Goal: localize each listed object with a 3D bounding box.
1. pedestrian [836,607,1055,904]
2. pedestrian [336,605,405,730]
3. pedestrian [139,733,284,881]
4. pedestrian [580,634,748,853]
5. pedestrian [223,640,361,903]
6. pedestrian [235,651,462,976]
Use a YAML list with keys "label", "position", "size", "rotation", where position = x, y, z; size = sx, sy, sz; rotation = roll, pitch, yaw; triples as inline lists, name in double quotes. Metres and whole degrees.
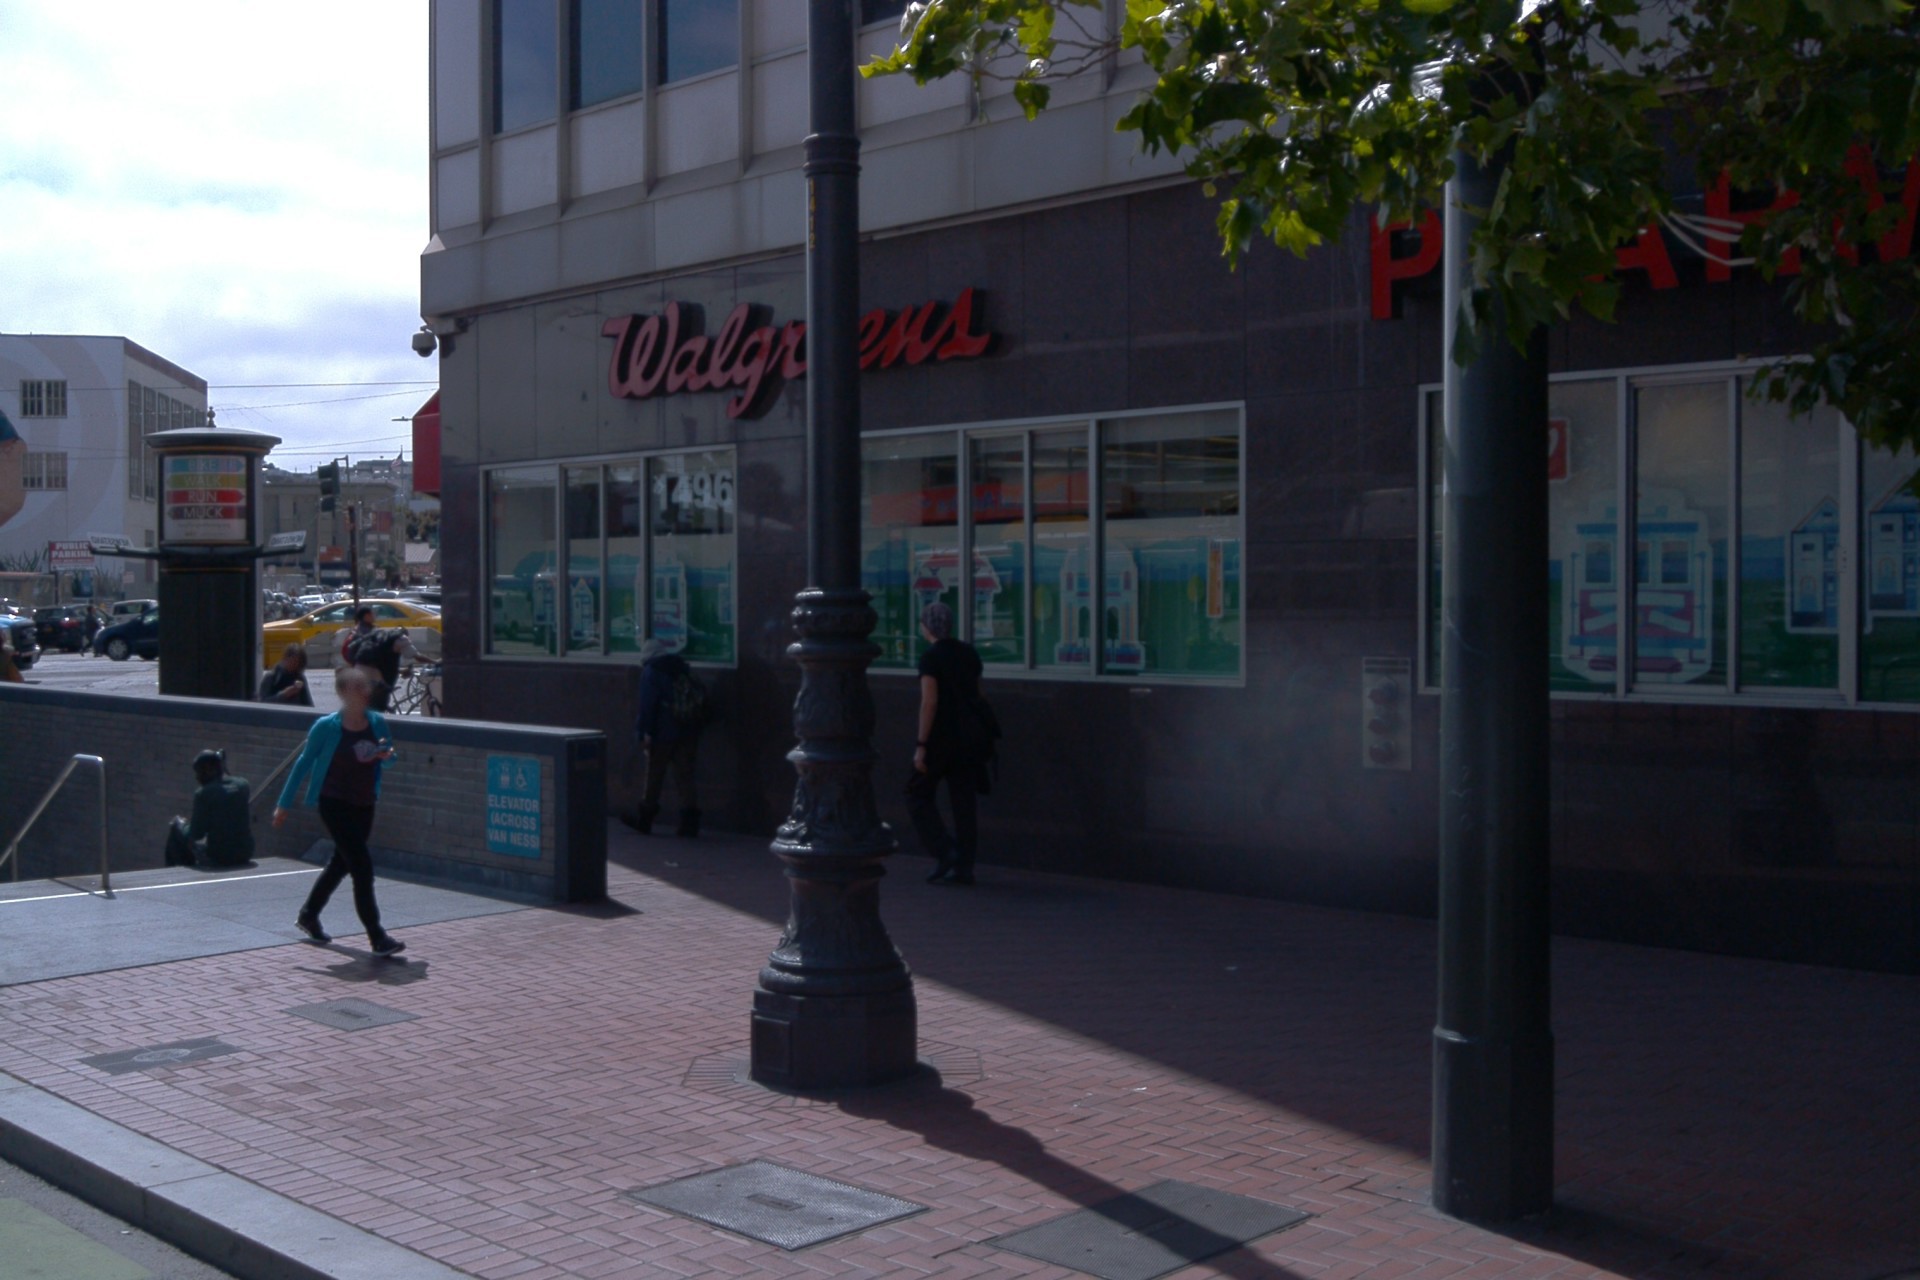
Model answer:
- label: "pedestrian"
  position: [-0.104, 0.732, 13.900]
  size: [0.912, 1.900, 1.192]
  rotation: [0, 0, -43]
- label: "pedestrian"
  position: [-8.036, 0.359, 28.027]
  size: [0.888, 1.670, 0.847]
  rotation: [0, 0, -15]
- label: "pedestrian"
  position: [-5.604, 1.230, 15.384]
  size: [0.698, 1.000, 0.907]
  rotation: [0, 0, -45]
- label: "pedestrian"
  position: [-2.385, 0.798, 16.546]
  size: [0.875, 1.680, 1.061]
  rotation: [0, 0, -45]
- label: "pedestrian"
  position: [-5.828, 1.106, 17.930]
  size: [0.961, 2.200, 0.775]
  rotation: [0, 0, 44]
- label: "pedestrian"
  position: [-3.485, 0.939, 11.713]
  size: [1.058, 1.740, 0.746]
  rotation: [0, 0, 36]
